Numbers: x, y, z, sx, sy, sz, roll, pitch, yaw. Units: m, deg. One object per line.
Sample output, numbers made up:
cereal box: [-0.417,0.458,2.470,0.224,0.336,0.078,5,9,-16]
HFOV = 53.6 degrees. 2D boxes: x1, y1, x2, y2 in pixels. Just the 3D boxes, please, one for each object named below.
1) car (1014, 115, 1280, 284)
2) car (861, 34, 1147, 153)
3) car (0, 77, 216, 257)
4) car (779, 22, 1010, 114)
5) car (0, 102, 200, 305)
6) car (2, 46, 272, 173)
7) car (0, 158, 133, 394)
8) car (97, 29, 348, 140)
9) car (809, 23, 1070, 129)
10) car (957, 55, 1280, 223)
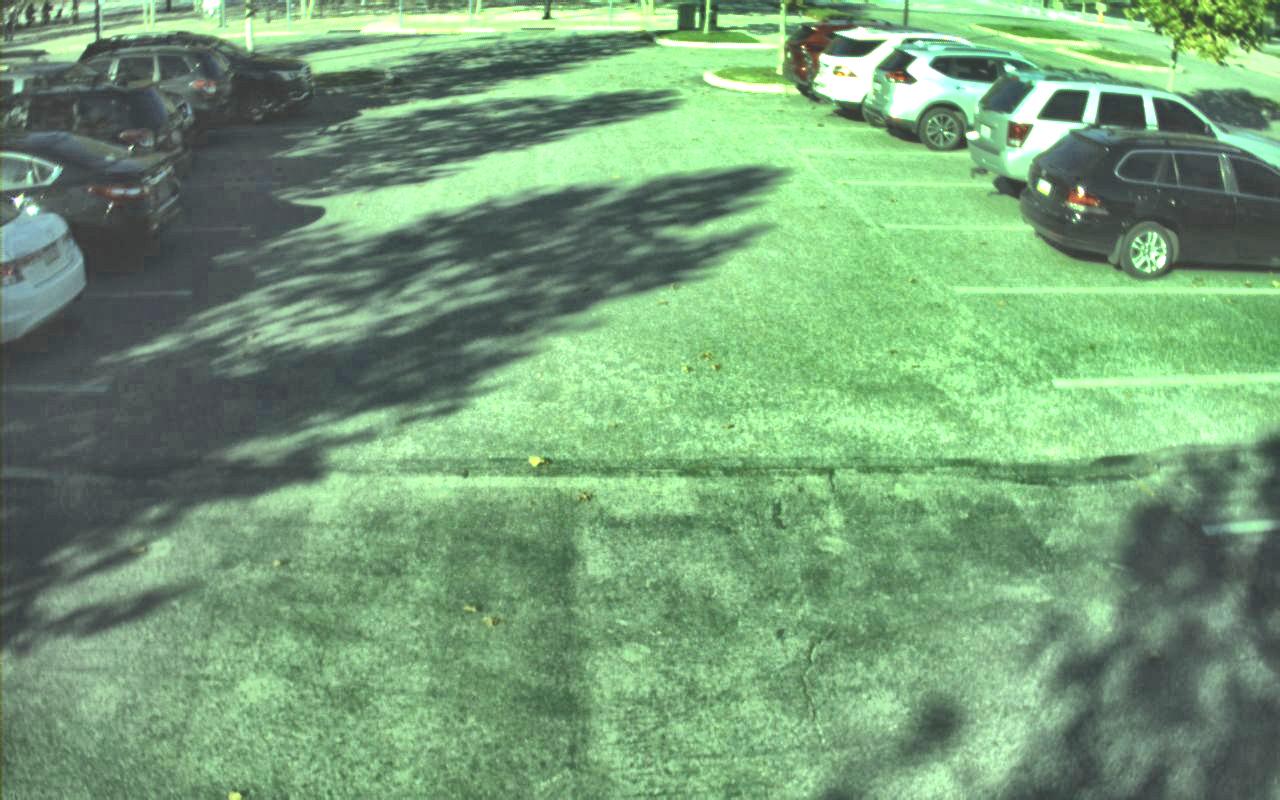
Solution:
car: [6.512,-2.253,12.899,4.416,1.544,1.924,-2,16,-4]
car: [6.120,-5.165,20.108,4.577,1.783,2.001,-2,16,-3]
car: [-7.631,-2.930,14.100,4.444,1.668,1.980,-3,16,-7]
car: [5.261,-6.883,25.165,4.488,1.767,2.002,-3,16,-6]
car: [-6.945,-2.093,11.812,4.355,1.559,1.921,-3,16,-7]
car: [-8.543,-4.850,19.307,4.432,1.671,1.988,1,16,7]
car: [-6.764,-1.075,9.444,4.361,1.542,1.923,1,16,7]
car: [-8.010,-5.967,22.259,4.598,1.690,2.022,3,17,12]
car: [5.586,-6.065,22.535,4.588,1.817,2.012,-3,16,-6]
car: [6.582,-3.418,15.257,4.626,1.880,2.034,-2,16,-3]
